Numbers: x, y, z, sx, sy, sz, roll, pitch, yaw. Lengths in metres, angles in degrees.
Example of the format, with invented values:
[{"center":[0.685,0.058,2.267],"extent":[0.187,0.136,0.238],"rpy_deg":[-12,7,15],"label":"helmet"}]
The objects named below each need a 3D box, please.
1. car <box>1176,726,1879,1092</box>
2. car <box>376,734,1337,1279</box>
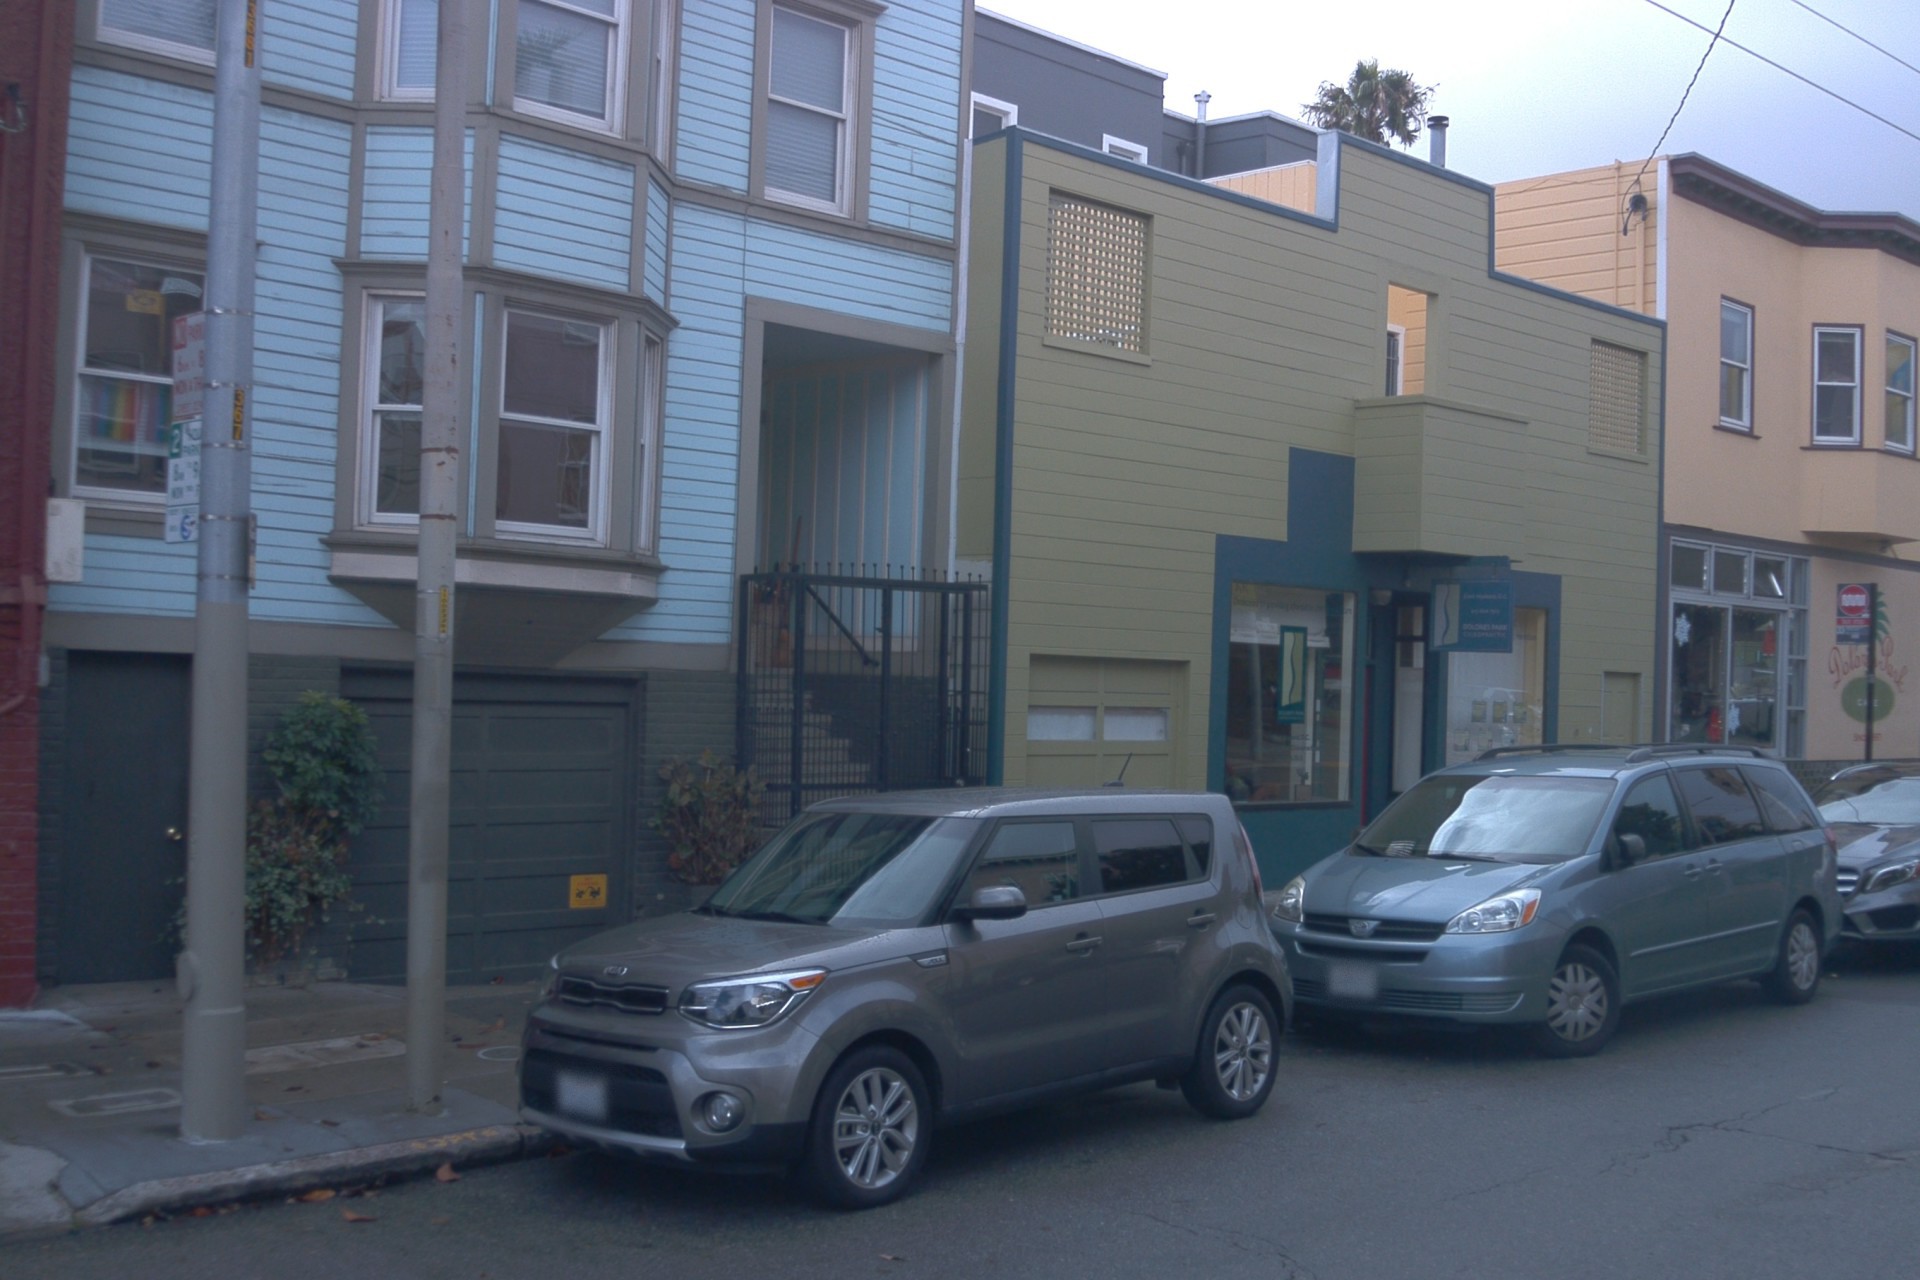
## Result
[{"center":[3.906,1.531,13.607],"extent":[2.245,1.810,5.134],"rpy_deg":[0,-1,44],"label":"car"},{"center":[-0.274,1.395,9.569],"extent":[2.034,1.800,4.176],"rpy_deg":[1,-1,42],"label":"car"}]
